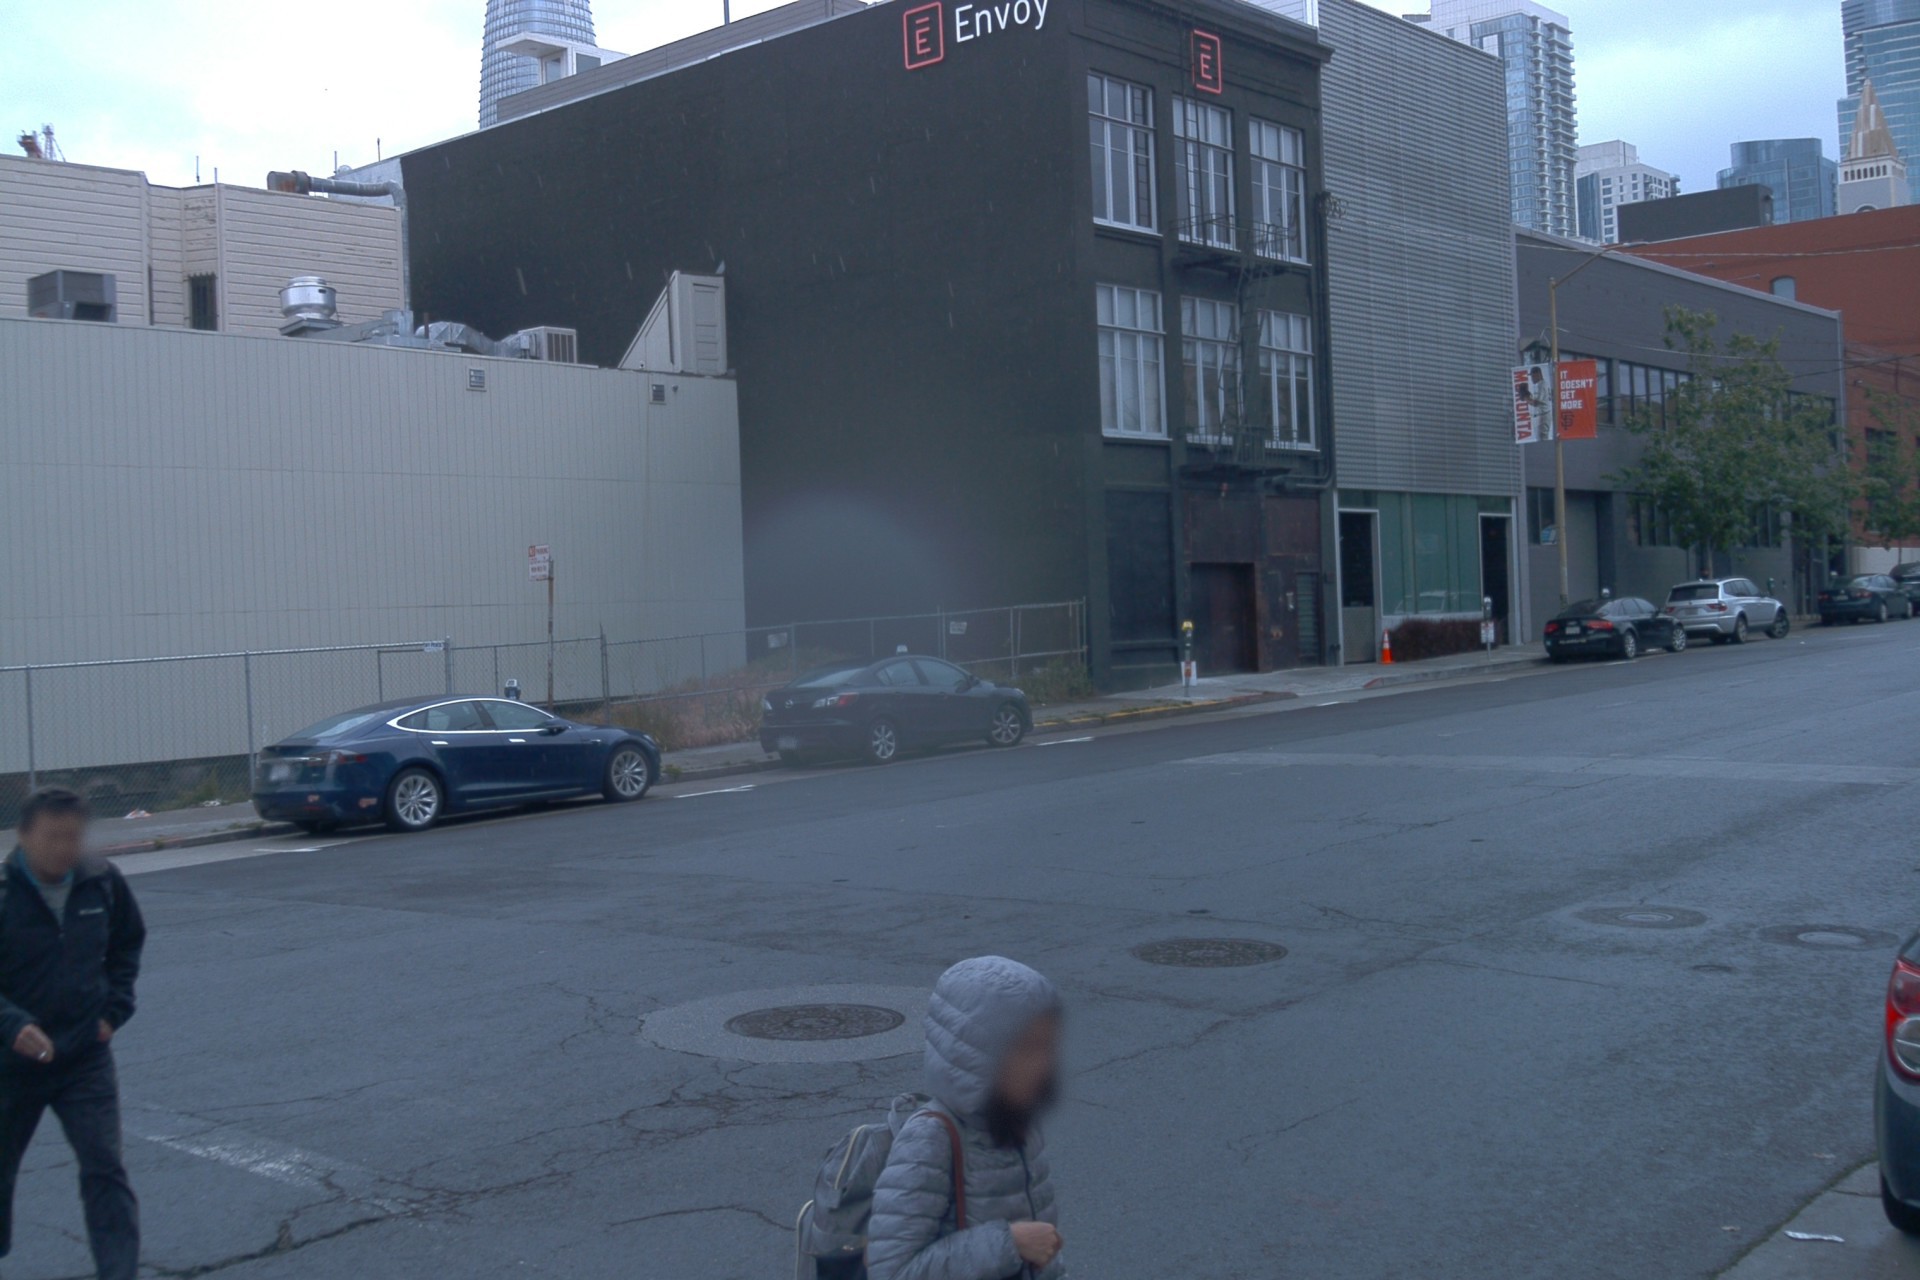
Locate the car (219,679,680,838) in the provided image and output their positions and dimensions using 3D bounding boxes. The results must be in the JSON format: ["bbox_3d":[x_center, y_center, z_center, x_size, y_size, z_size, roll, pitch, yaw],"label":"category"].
[{"bbox_3d":[-5.604,1.239,23.268,2.011,1.550,4.769,0,-1,39],"label":"car"}]

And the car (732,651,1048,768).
[{"bbox_3d":[-0.895,0.919,28.798,2.005,1.500,4.289,0,-1,41],"label":"car"}]

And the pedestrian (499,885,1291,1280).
[{"bbox_3d":[-0.101,1.297,3.712,1.007,1.560,0.993,0,-1,39],"label":"pedestrian"}]
